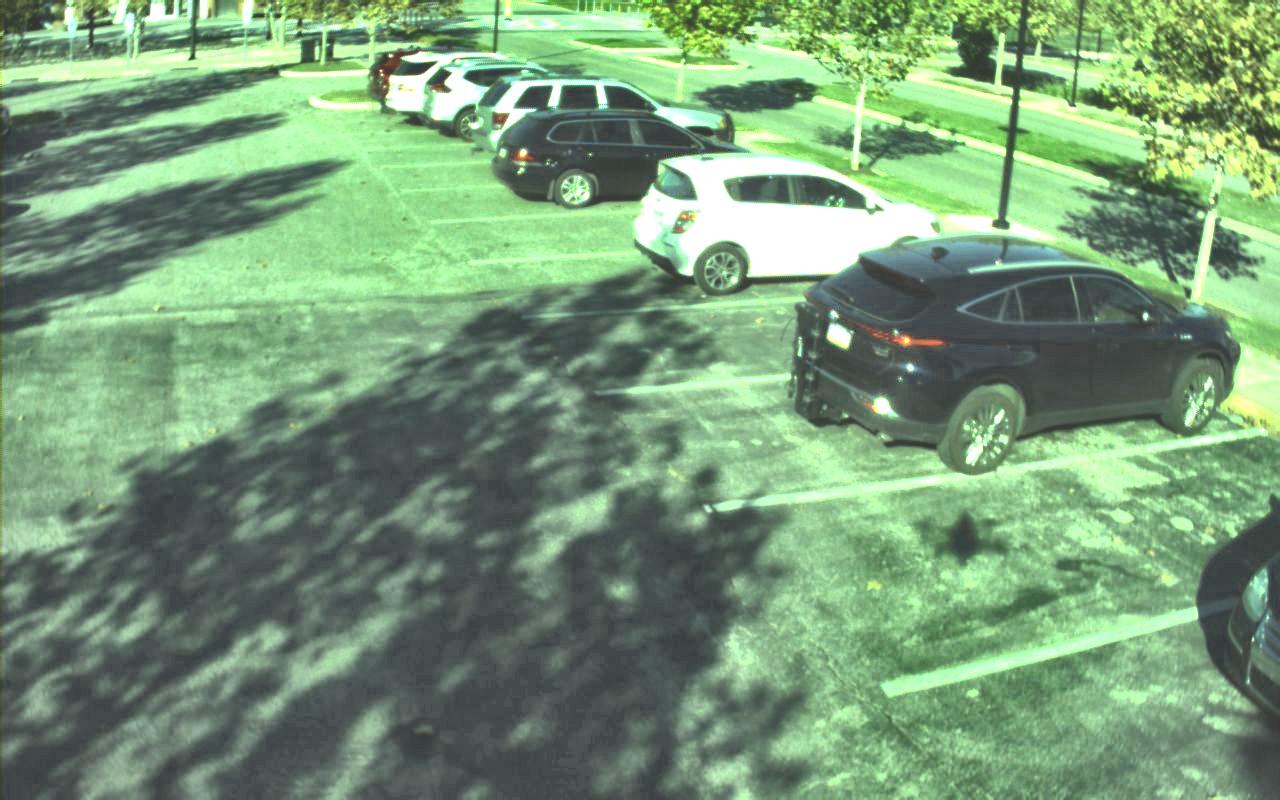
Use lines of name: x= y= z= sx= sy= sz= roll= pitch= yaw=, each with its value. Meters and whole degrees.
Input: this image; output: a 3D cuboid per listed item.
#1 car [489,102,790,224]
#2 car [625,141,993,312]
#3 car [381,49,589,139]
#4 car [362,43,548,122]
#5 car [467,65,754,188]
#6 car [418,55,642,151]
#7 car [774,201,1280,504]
car: x=-0.016 y=-3.906 z=20.214 sx=4.489 sy=1.565 sz=1.935 roll=-7 pitch=17 yaw=-19
car: x=2.140 y=-2.284 z=15.667 sx=4.256 sy=1.649 sz=1.914 roll=-7 pitch=17 yaw=-18
car: x=-3.734 y=-7.321 z=29.283 sx=4.628 sy=1.834 sz=2.029 roll=-7 pitch=17 yaw=-20
car: x=-4.853 y=-8.266 z=31.771 sx=4.517 sy=1.771 sz=2.006 roll=-7 pitch=17 yaw=-21
car: x=-0.559 y=-5.041 z=22.574 sx=4.822 sy=1.905 sz=2.078 roll=-6 pitch=17 yaw=-18
car: x=-2.454 y=-6.565 z=27.079 sx=4.557 sy=1.803 sz=1.995 roll=-7 pitch=17 yaw=-18
car: x=3.649 y=-0.641 z=10.695 sx=4.614 sy=1.755 sz=1.996 roll=-8 pitch=18 yaw=-23
